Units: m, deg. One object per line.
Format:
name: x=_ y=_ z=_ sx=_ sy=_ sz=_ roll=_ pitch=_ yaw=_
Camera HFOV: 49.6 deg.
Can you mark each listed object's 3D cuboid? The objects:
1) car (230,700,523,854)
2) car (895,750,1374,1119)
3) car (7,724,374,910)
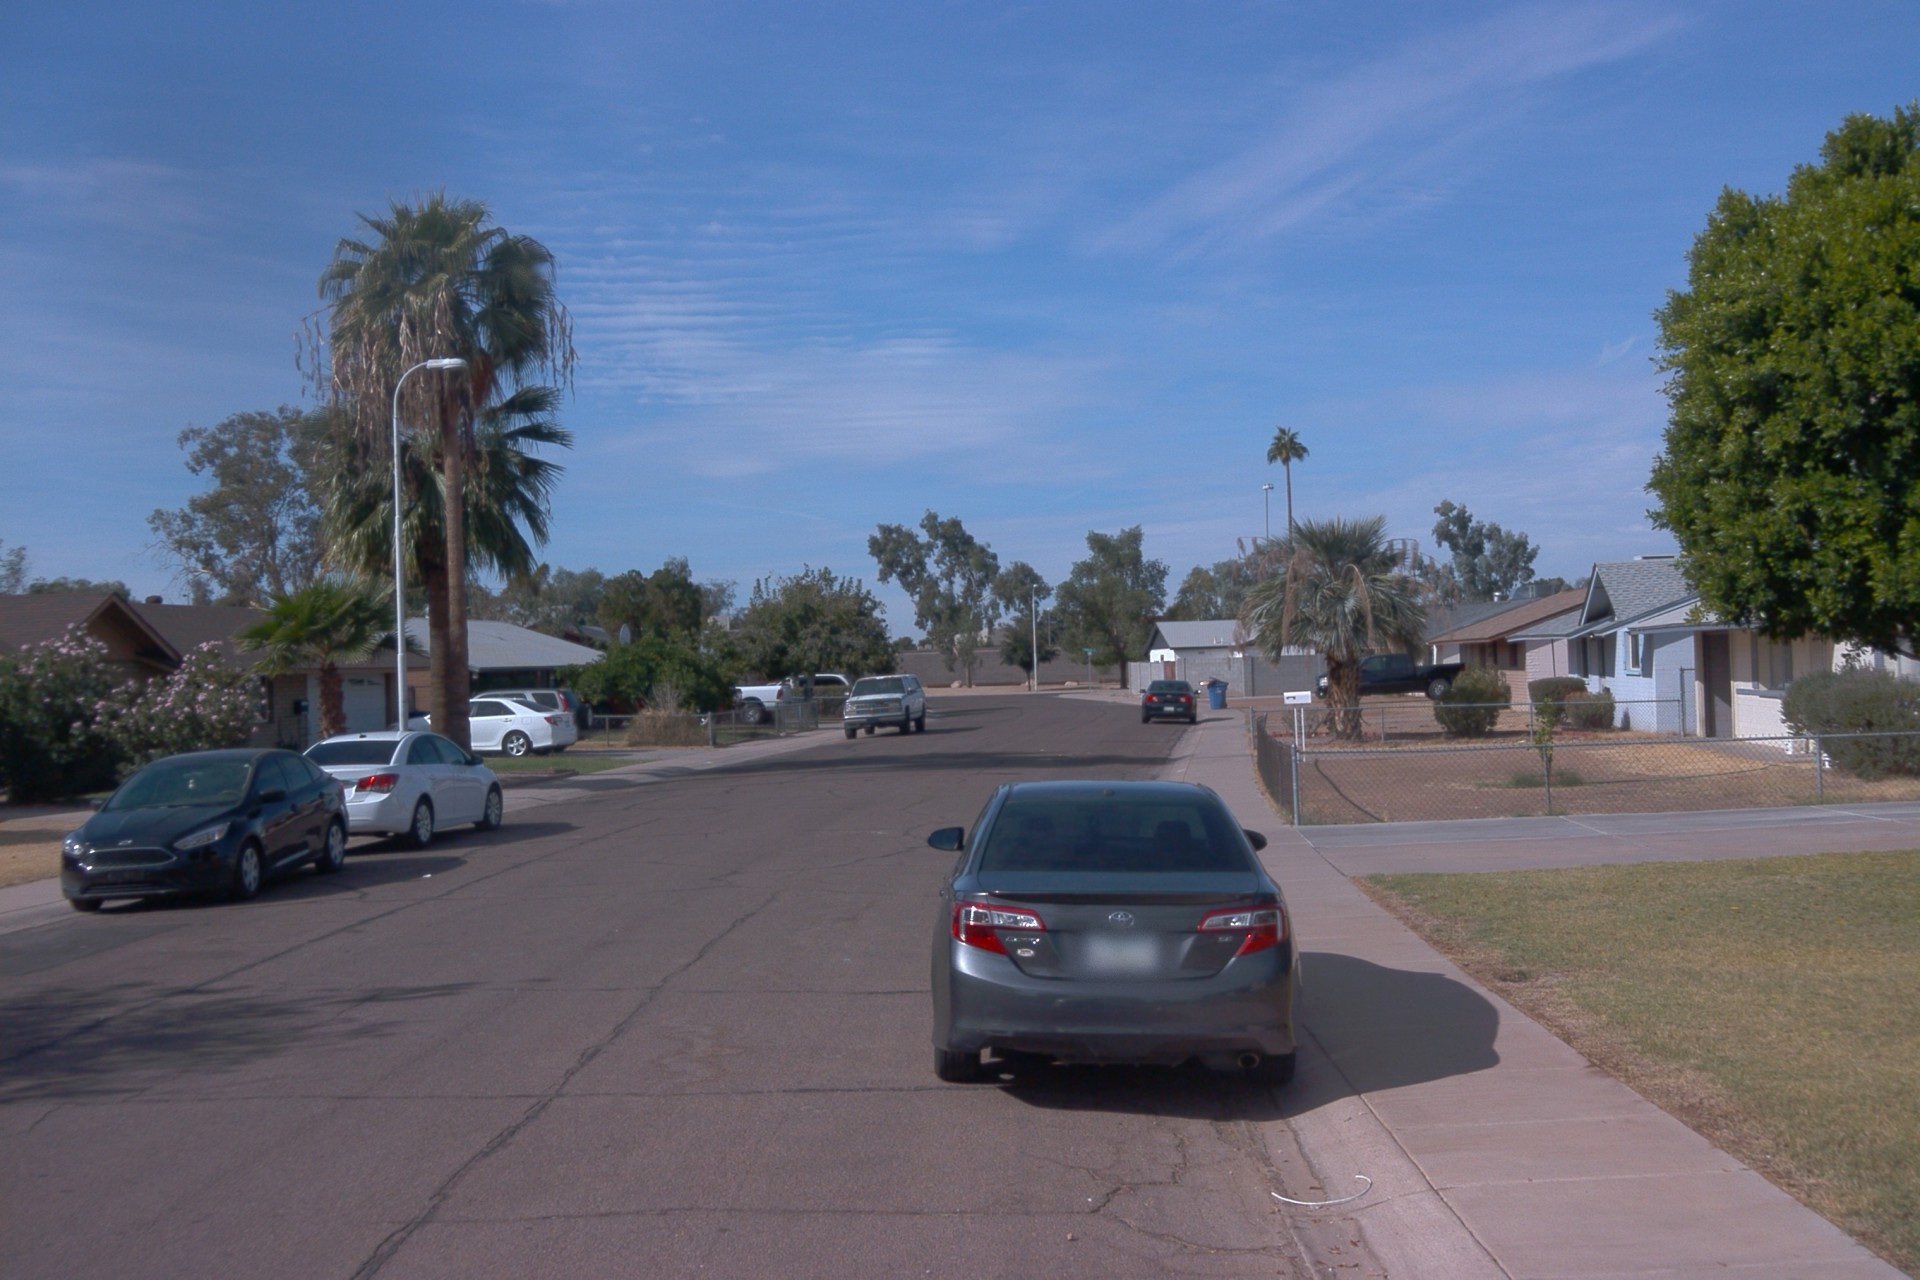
car: x=-7.476 y=1.698 z=27.168 sx=2.079 sy=1.770 sz=4.631 roll=0 pitch=-1 yaw=7
car: x=0.808 y=1.456 z=11.862 sx=2.150 sy=1.470 sz=5.012 roll=0 pitch=-1 yaw=1
car: x=-7.784 y=1.733 z=21.558 sx=2.055 sy=1.610 sz=4.523 roll=0 pitch=-1 yaw=1
